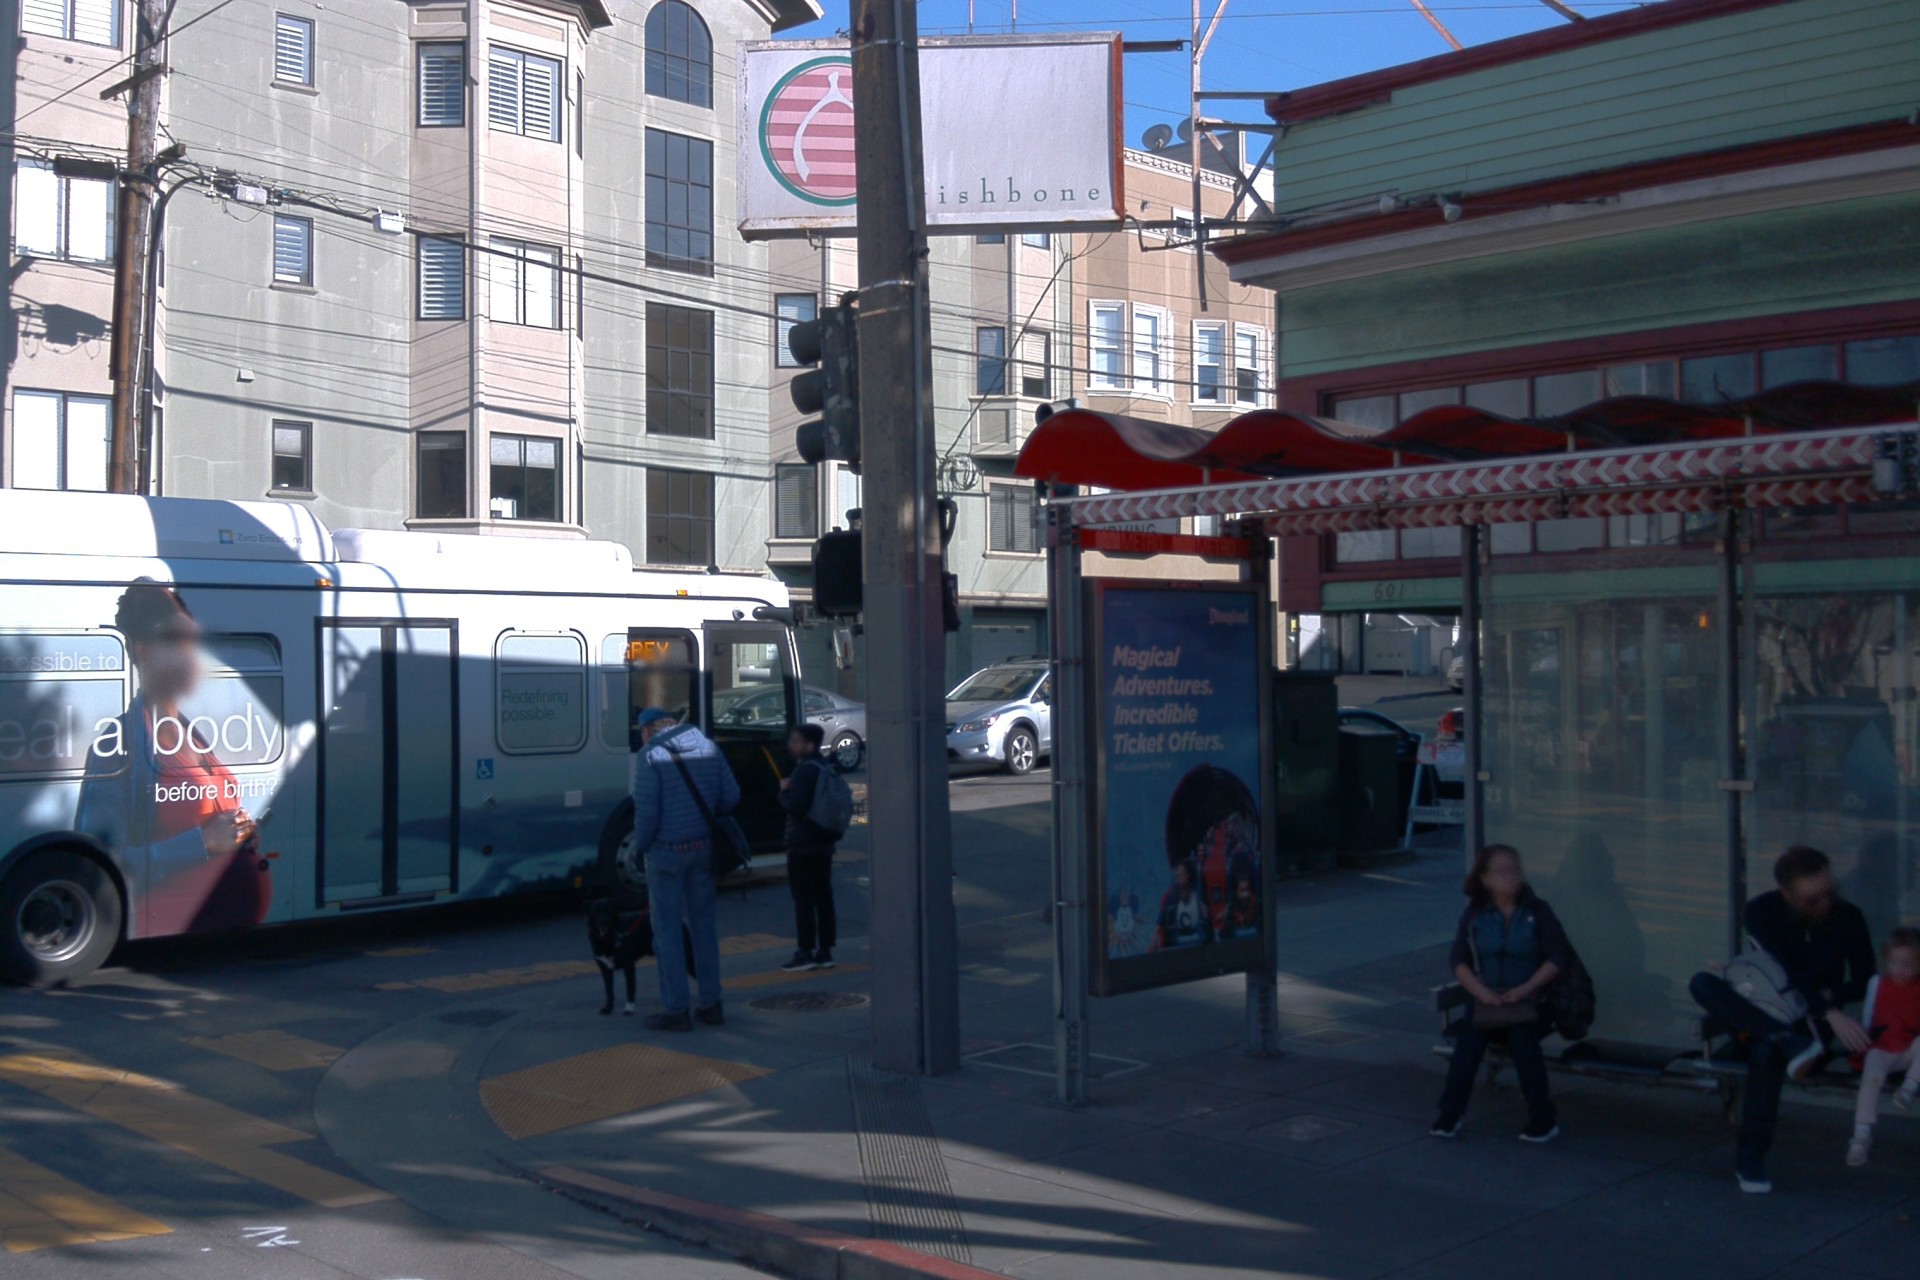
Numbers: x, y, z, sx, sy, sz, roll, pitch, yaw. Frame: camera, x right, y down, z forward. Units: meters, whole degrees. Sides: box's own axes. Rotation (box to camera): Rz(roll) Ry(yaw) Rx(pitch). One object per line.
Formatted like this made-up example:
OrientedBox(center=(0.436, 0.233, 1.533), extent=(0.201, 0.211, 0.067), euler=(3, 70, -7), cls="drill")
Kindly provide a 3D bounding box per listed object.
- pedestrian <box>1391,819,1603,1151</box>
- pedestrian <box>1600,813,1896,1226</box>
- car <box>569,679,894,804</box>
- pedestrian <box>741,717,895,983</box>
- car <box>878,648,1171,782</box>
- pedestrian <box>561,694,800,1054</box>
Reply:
OrientedBox(center=(2.325, 1.446, 9.032), extent=(0.738, 1.260, 0.790), euler=(1, 0, 26), cls="pedestrian")
OrientedBox(center=(3.073, 1.420, 8.162), extent=(0.757, 1.400, 0.918), euler=(1, 0, 44), cls="pedestrian")
OrientedBox(center=(-3.342, 1.440, 31.297), extent=(2.102, 1.670, 4.524), euler=(0, 0, 43), cls="car")
OrientedBox(center=(-0.963, 1.390, 14.197), extent=(0.687, 1.700, 0.778), euler=(0, 0, -43), cls="pedestrian")
OrientedBox(center=(1.012, 1.019, 30.260), extent=(1.930, 1.770, 4.447), euler=(1, 0, 39), cls="car")
OrientedBox(center=(-1.551, 1.243, 11.632), extent=(0.955, 1.860, 0.894), euler=(0, 0, -43), cls="pedestrian")
